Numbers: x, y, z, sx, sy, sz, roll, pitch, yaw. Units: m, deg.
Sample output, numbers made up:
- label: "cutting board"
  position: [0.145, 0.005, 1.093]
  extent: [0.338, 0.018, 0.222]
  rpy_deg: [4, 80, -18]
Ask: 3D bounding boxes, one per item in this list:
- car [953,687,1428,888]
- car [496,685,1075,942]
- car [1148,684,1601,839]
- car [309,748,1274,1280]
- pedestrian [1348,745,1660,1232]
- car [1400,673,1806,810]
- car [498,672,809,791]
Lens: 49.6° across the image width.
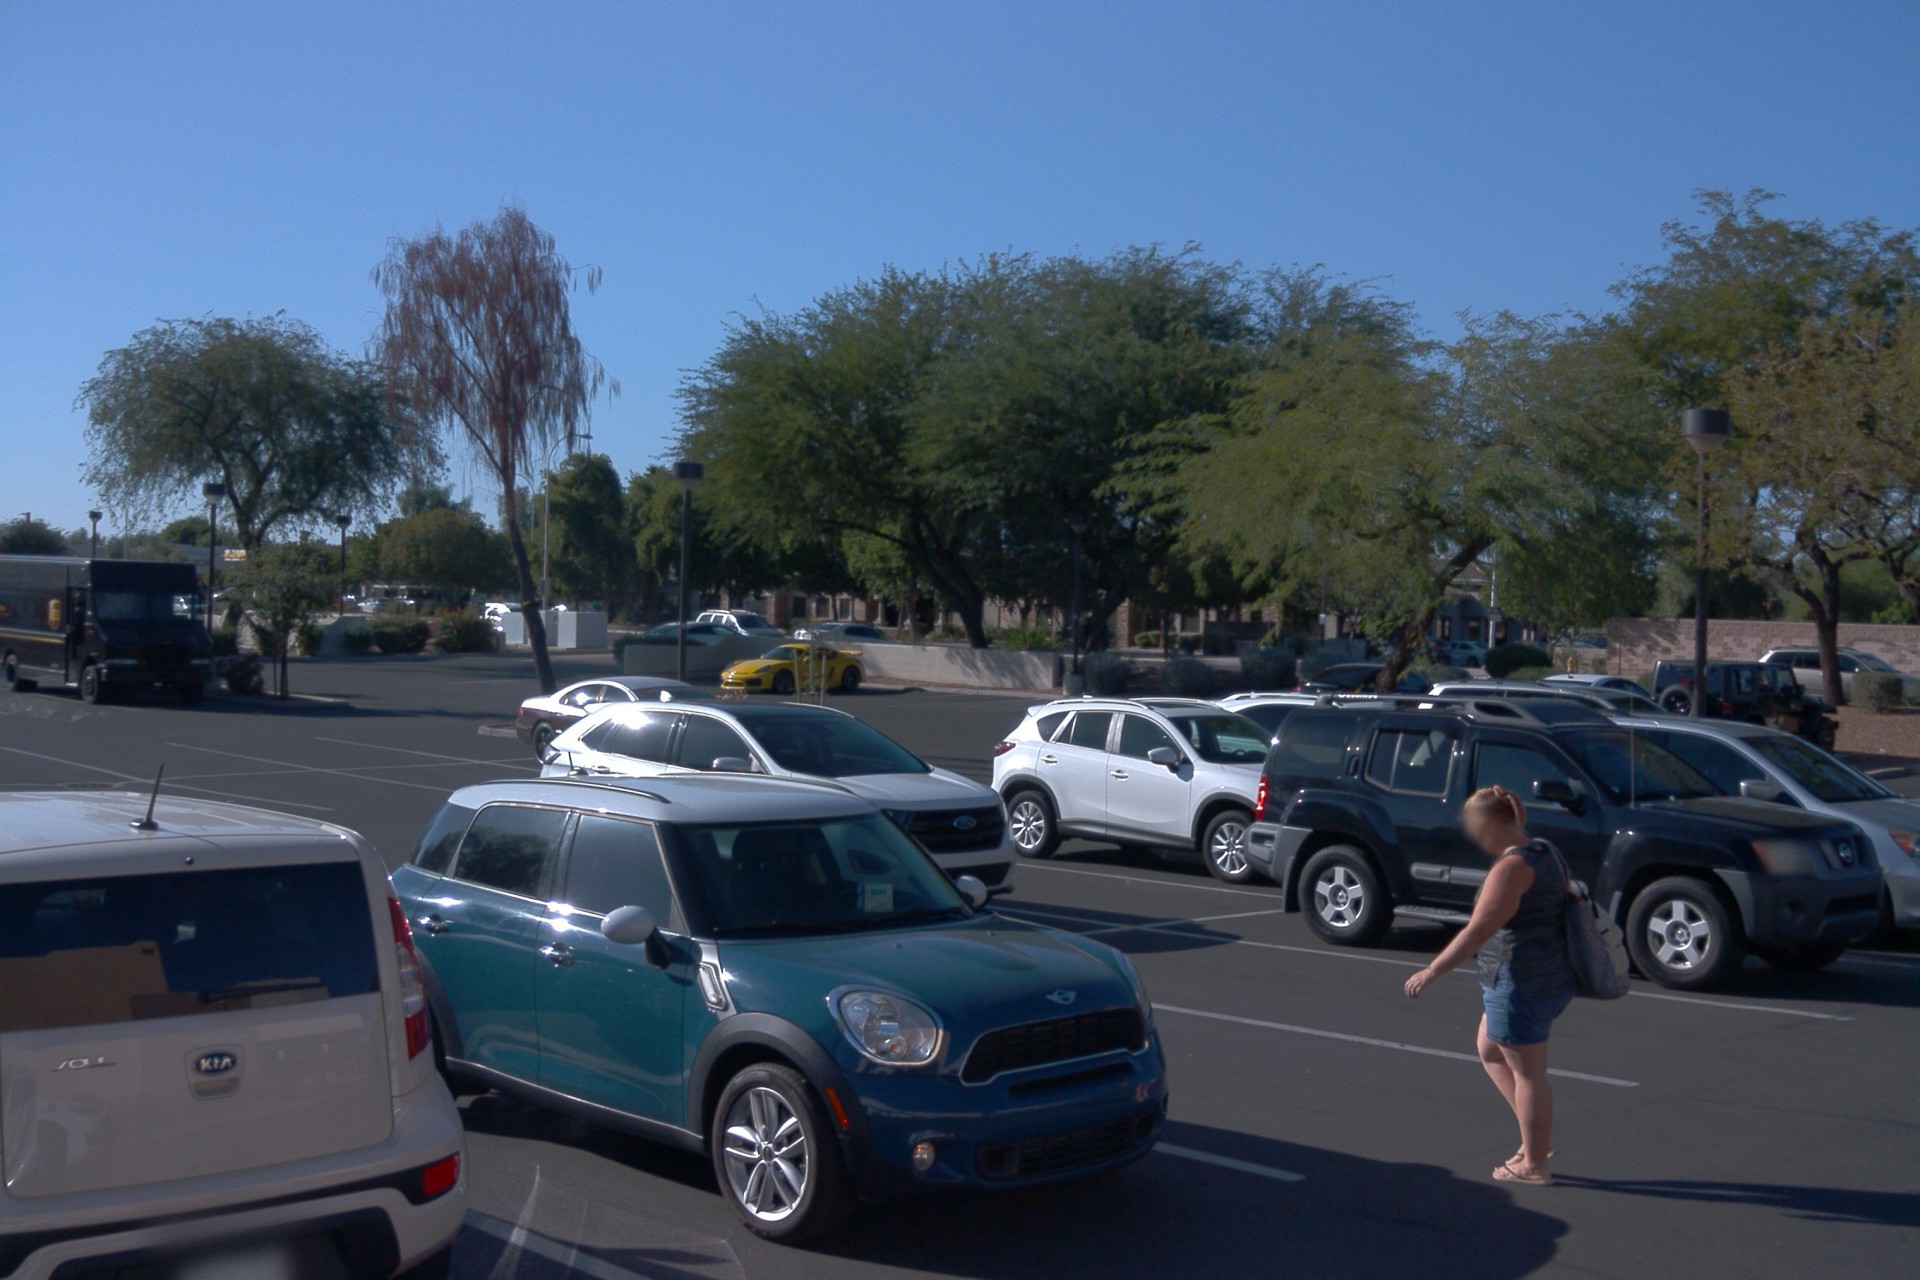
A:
- label: "car"
  position: [2.262, 1.393, 21.205]
  extent: [2.160, 1.720, 4.434]
  rpy_deg: [1, 0, -45]
- label: "car"
  position: [-1.560, 1.295, 17.263]
  extent: [4.659, 1.720, 2.253]
  rpy_deg: [1, 0, 44]
- label: "car"
  position: [4.593, 1.287, 23.526]
  extent: [2.057, 1.460, 4.663]
  rpy_deg: [1, 0, -45]
- label: "car"
  position: [-0.886, 1.377, 8.862]
  extent: [2.003, 1.600, 3.979]
  rpy_deg: [1, 0, -45]
- label: "pedestrian"
  position: [2.208, 1.331, 8.384]
  extent: [0.959, 1.750, 0.930]
  rpy_deg: [1, 0, 32]
- label: "car"
  position: [9.149, 1.380, 29.828]
  extent: [5.065, 1.700, 2.270]
  rpy_deg: [1, 0, 44]
- label: "car"
  position: [-4.814, 1.345, 32.069]
  extent: [5.046, 1.600, 2.114]
  rpy_deg: [1, 0, 44]
